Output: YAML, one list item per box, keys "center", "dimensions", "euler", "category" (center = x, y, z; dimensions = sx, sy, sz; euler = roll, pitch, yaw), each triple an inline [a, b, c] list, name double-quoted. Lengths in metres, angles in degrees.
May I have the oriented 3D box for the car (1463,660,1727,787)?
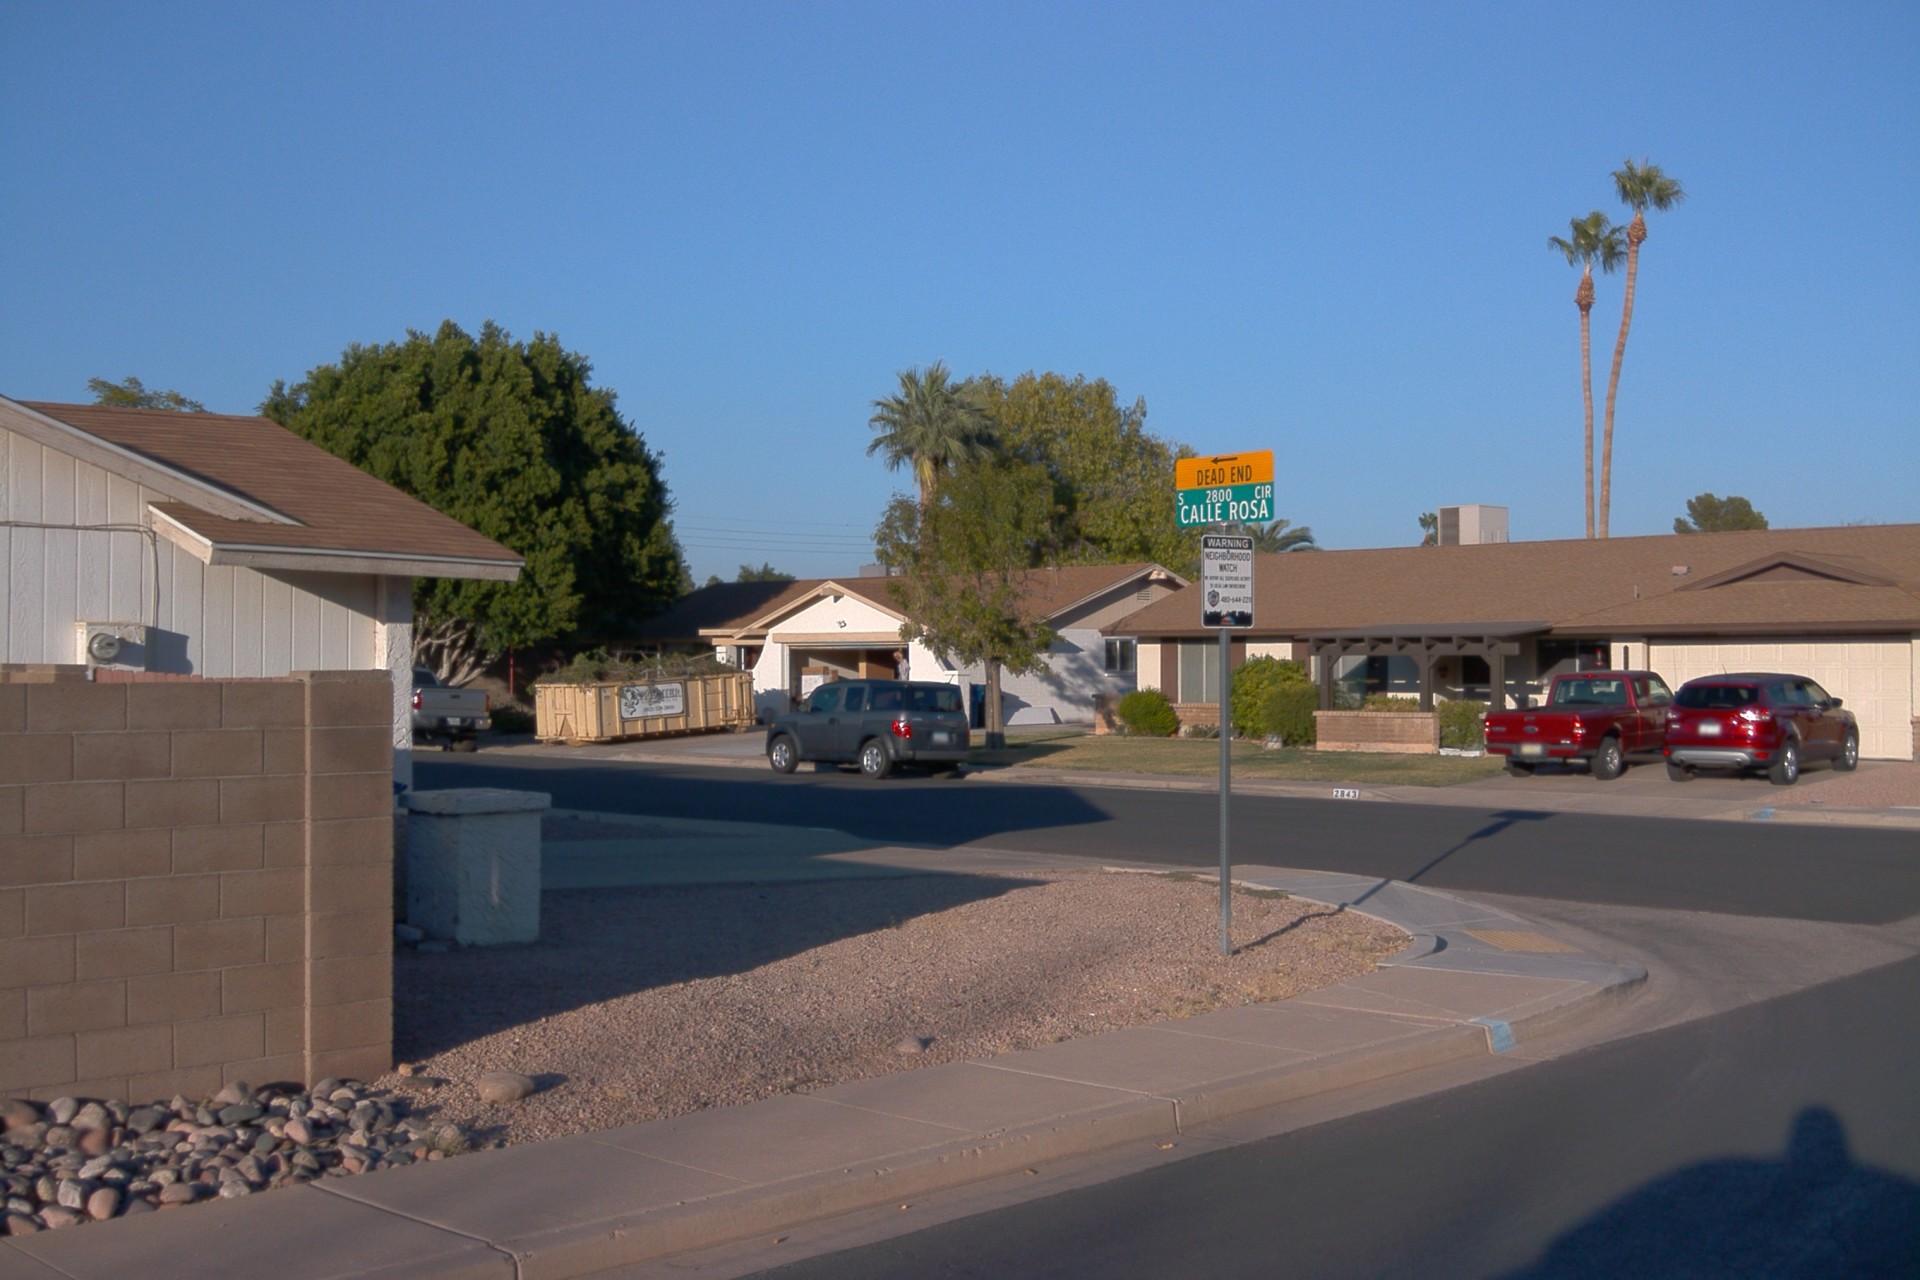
- center: [10.510, 1.298, 34.333]
  dimensions: [1.986, 1.900, 5.227]
  euler: [0, 0, 44]
  category: "car"

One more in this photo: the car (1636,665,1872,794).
- center: [12.478, 1.331, 32.667]
  dimensions: [1.963, 1.830, 4.602]
  euler: [0, 0, 41]
  category: "car"

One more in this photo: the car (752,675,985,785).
- center: [-1.711, 1.579, 37.911]
  dimensions: [1.977, 1.810, 4.098]
  euler: [1, 0, -44]
  category: "car"
